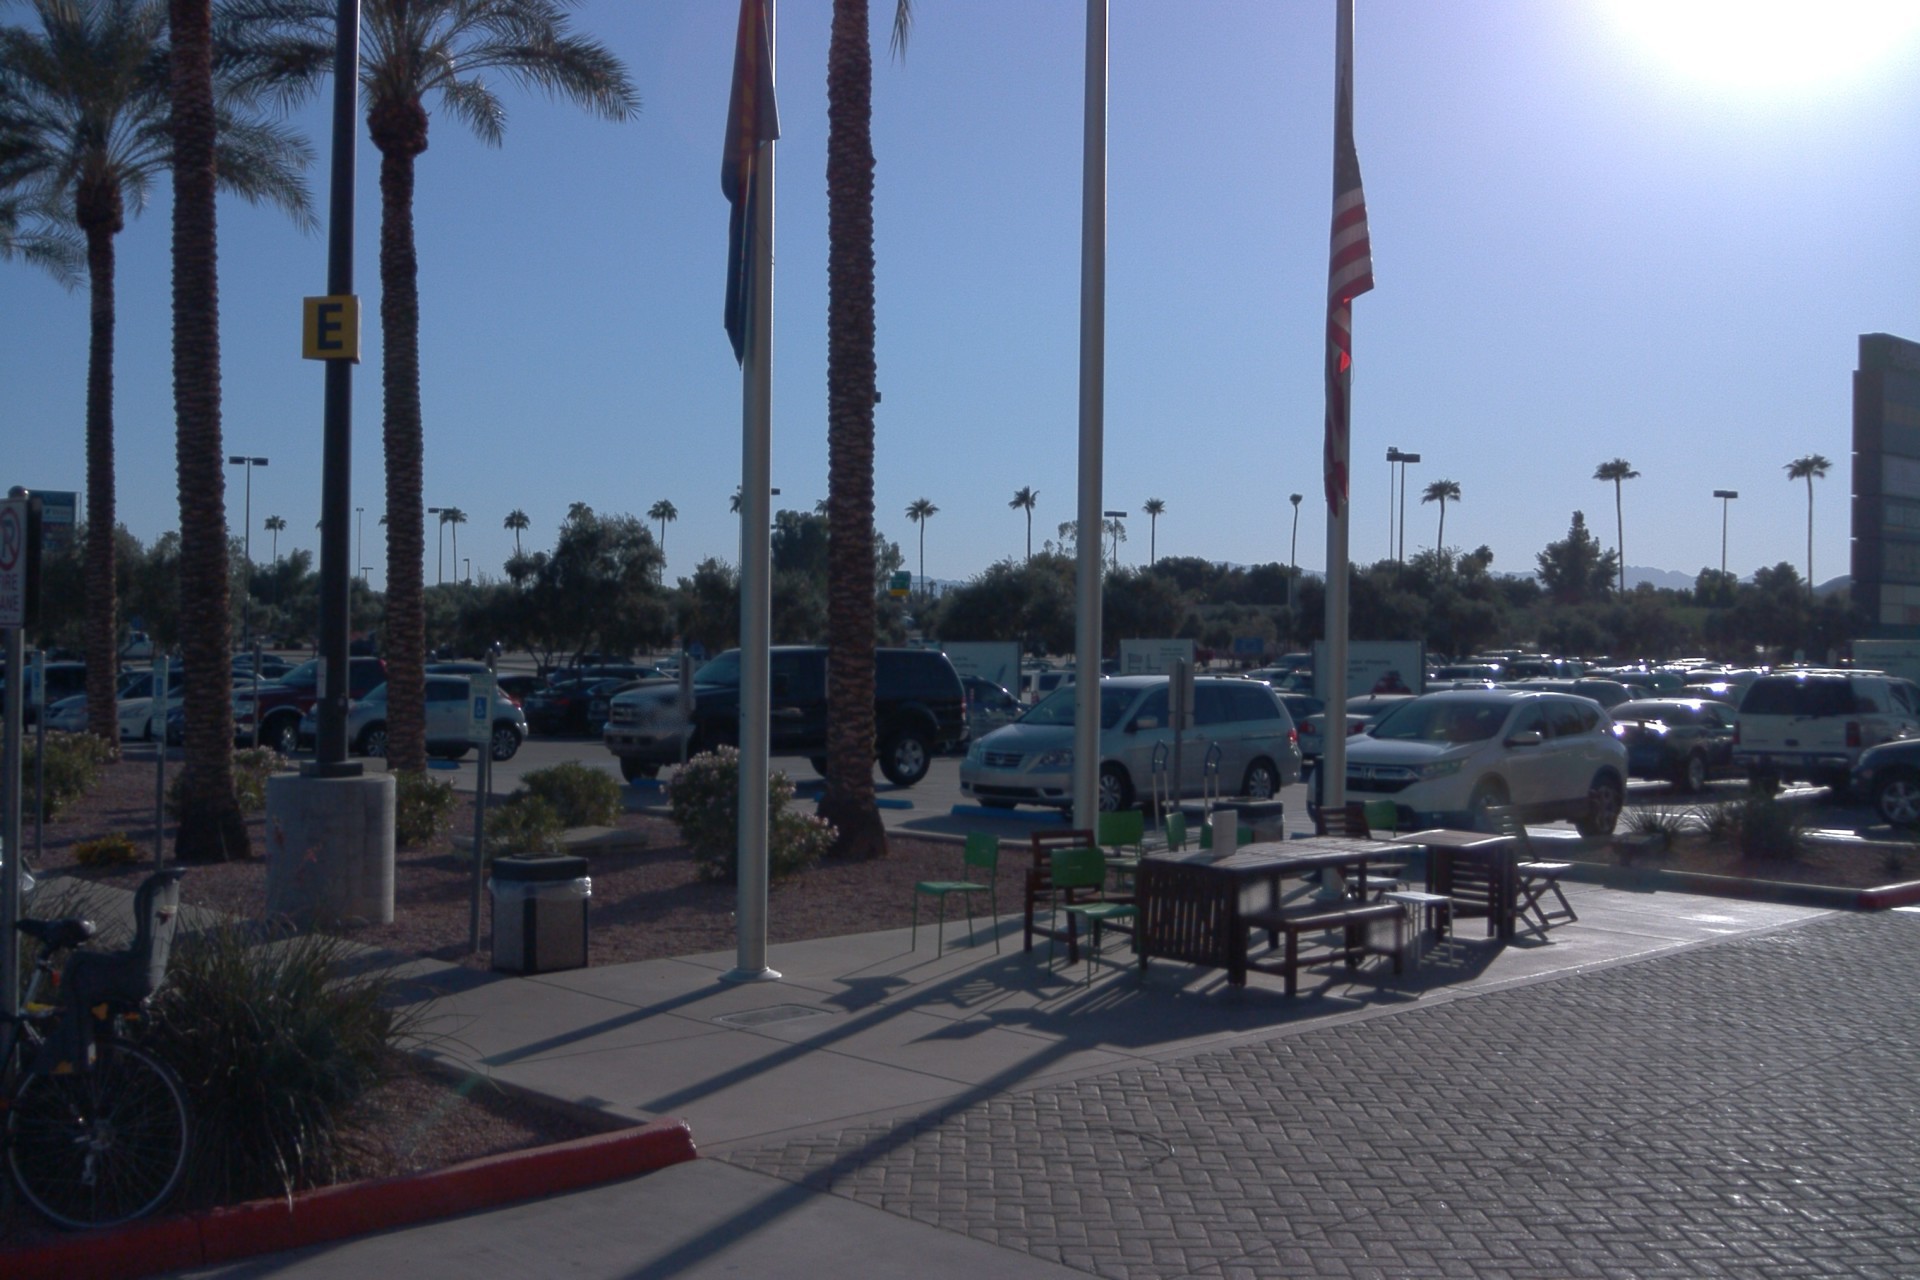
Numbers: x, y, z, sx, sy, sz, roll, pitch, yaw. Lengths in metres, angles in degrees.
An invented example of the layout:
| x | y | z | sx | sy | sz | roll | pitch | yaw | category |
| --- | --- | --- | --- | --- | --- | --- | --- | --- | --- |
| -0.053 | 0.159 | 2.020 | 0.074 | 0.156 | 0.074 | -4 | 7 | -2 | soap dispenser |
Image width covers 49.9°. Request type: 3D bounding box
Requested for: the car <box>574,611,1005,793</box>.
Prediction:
| x | y | z | sx | sy | sz | roll | pitch | yaw | category |
| --- | --- | --- | --- | --- | --- | --- | --- | --- | --- |
| -2.471 | 0.866 | 31.323 | 6.160 | 2.490 | 2.672 | 1 | 0 | -43 | car |

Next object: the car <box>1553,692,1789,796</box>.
| x | y | z | sx | sy | sz | roll | pitch | yaw | category |
| --- | --- | --- | --- | --- | --- | --- | --- | --- | --- |
| 11.615 | 1.634 | 33.581 | 4.346 | 1.490 | 1.909 | 1 | 0 | -45 | car |

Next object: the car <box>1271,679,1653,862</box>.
| x | y | z | sx | sy | sz | roll | pitch | yaw | category |
| --- | --- | --- | --- | --- | --- | --- | --- | --- | --- |
| 5.565 | 1.319 | 22.506 | 2.159 | 1.710 | 4.564 | 0 | 0 | 41 | car |

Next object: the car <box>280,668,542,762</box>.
| x | y | z | sx | sy | sz | roll | pitch | yaw | category |
| --- | --- | --- | --- | --- | --- | --- | --- | --- | --- |
| -9.800 | 1.303 | 37.066 | 1.967 | 1.550 | 4.106 | 0 | 0 | 44 | car |

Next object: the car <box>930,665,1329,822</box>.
| x | y | z | sx | sy | sz | roll | pitch | yaw | category |
| --- | --- | --- | --- | --- | --- | --- | --- | --- | --- |
| 2.281 | 1.220 | 26.489 | 2.246 | 1.780 | 5.286 | 0 | 0 | 44 | car |
